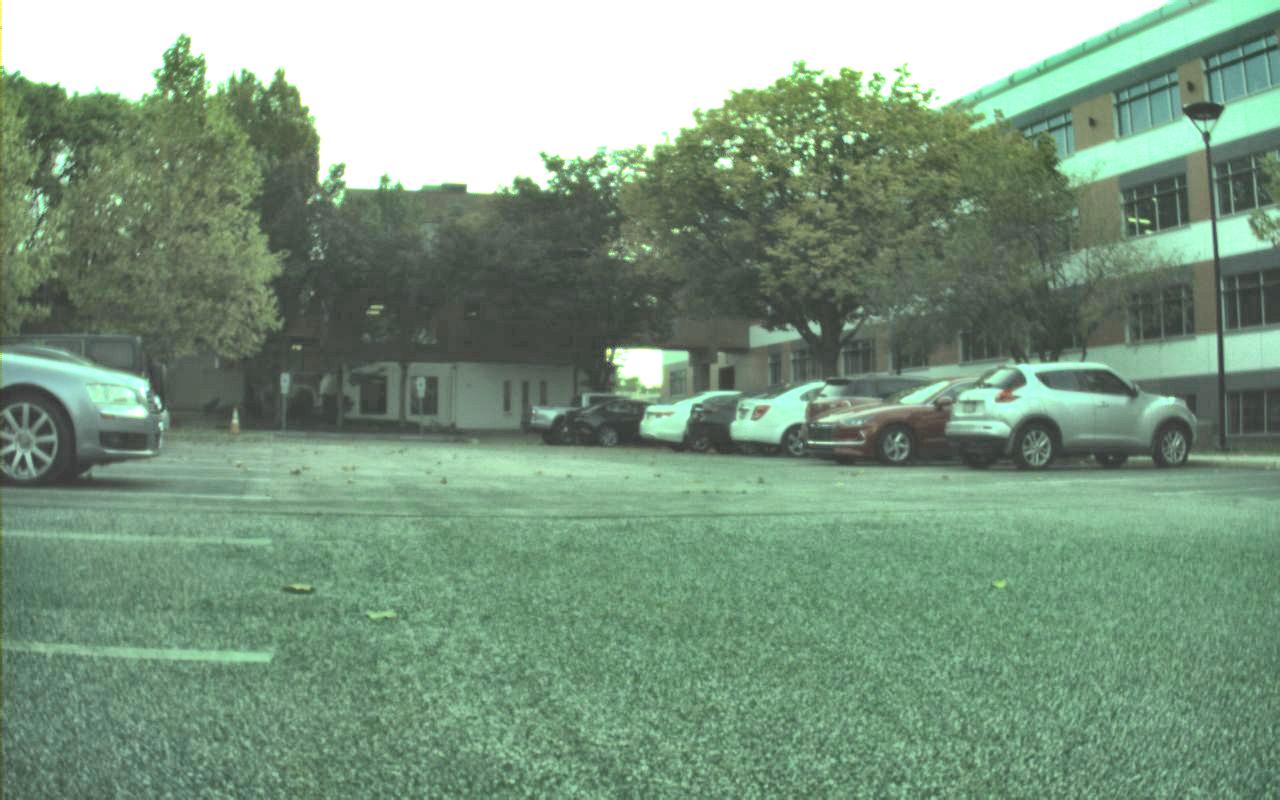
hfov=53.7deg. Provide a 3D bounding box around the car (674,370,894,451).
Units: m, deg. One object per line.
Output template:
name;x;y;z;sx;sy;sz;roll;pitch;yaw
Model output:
car;3.149;0.202;27.573;4.431;1.662;1.949;0;1;-16

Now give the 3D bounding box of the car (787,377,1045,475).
car;5.083;0.429;22.717;4.414;1.628;1.946;0;1;-15

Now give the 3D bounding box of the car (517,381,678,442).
car;-1.459;0.354;42.179;5.019;1.917;2.094;0;1;-18

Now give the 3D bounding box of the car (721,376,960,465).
car;4.042;0.384;25.211;4.461;1.662;1.937;0;1;-13

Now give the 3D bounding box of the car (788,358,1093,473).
car;4.888;0.207;19.931;4.660;1.673;1.986;0;1;-16

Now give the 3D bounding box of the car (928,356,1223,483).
car;6.431;0.243;17.535;4.191;1.674;1.874;0;1;-15

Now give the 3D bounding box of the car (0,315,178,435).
car;-9.586;-0.356;18.002;4.686;1.798;2.023;0;1;-20

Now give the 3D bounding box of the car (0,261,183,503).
car;-5.826;-0.112;8.439;4.650;1.637;1.993;0;1;-18

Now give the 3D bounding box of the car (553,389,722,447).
car;-0.065;0.486;37.333;4.599;1.601;1.956;0;1;-25

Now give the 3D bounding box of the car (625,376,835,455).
car;2.131;0.330;30.021;4.612;1.767;2.001;0;1;-16
